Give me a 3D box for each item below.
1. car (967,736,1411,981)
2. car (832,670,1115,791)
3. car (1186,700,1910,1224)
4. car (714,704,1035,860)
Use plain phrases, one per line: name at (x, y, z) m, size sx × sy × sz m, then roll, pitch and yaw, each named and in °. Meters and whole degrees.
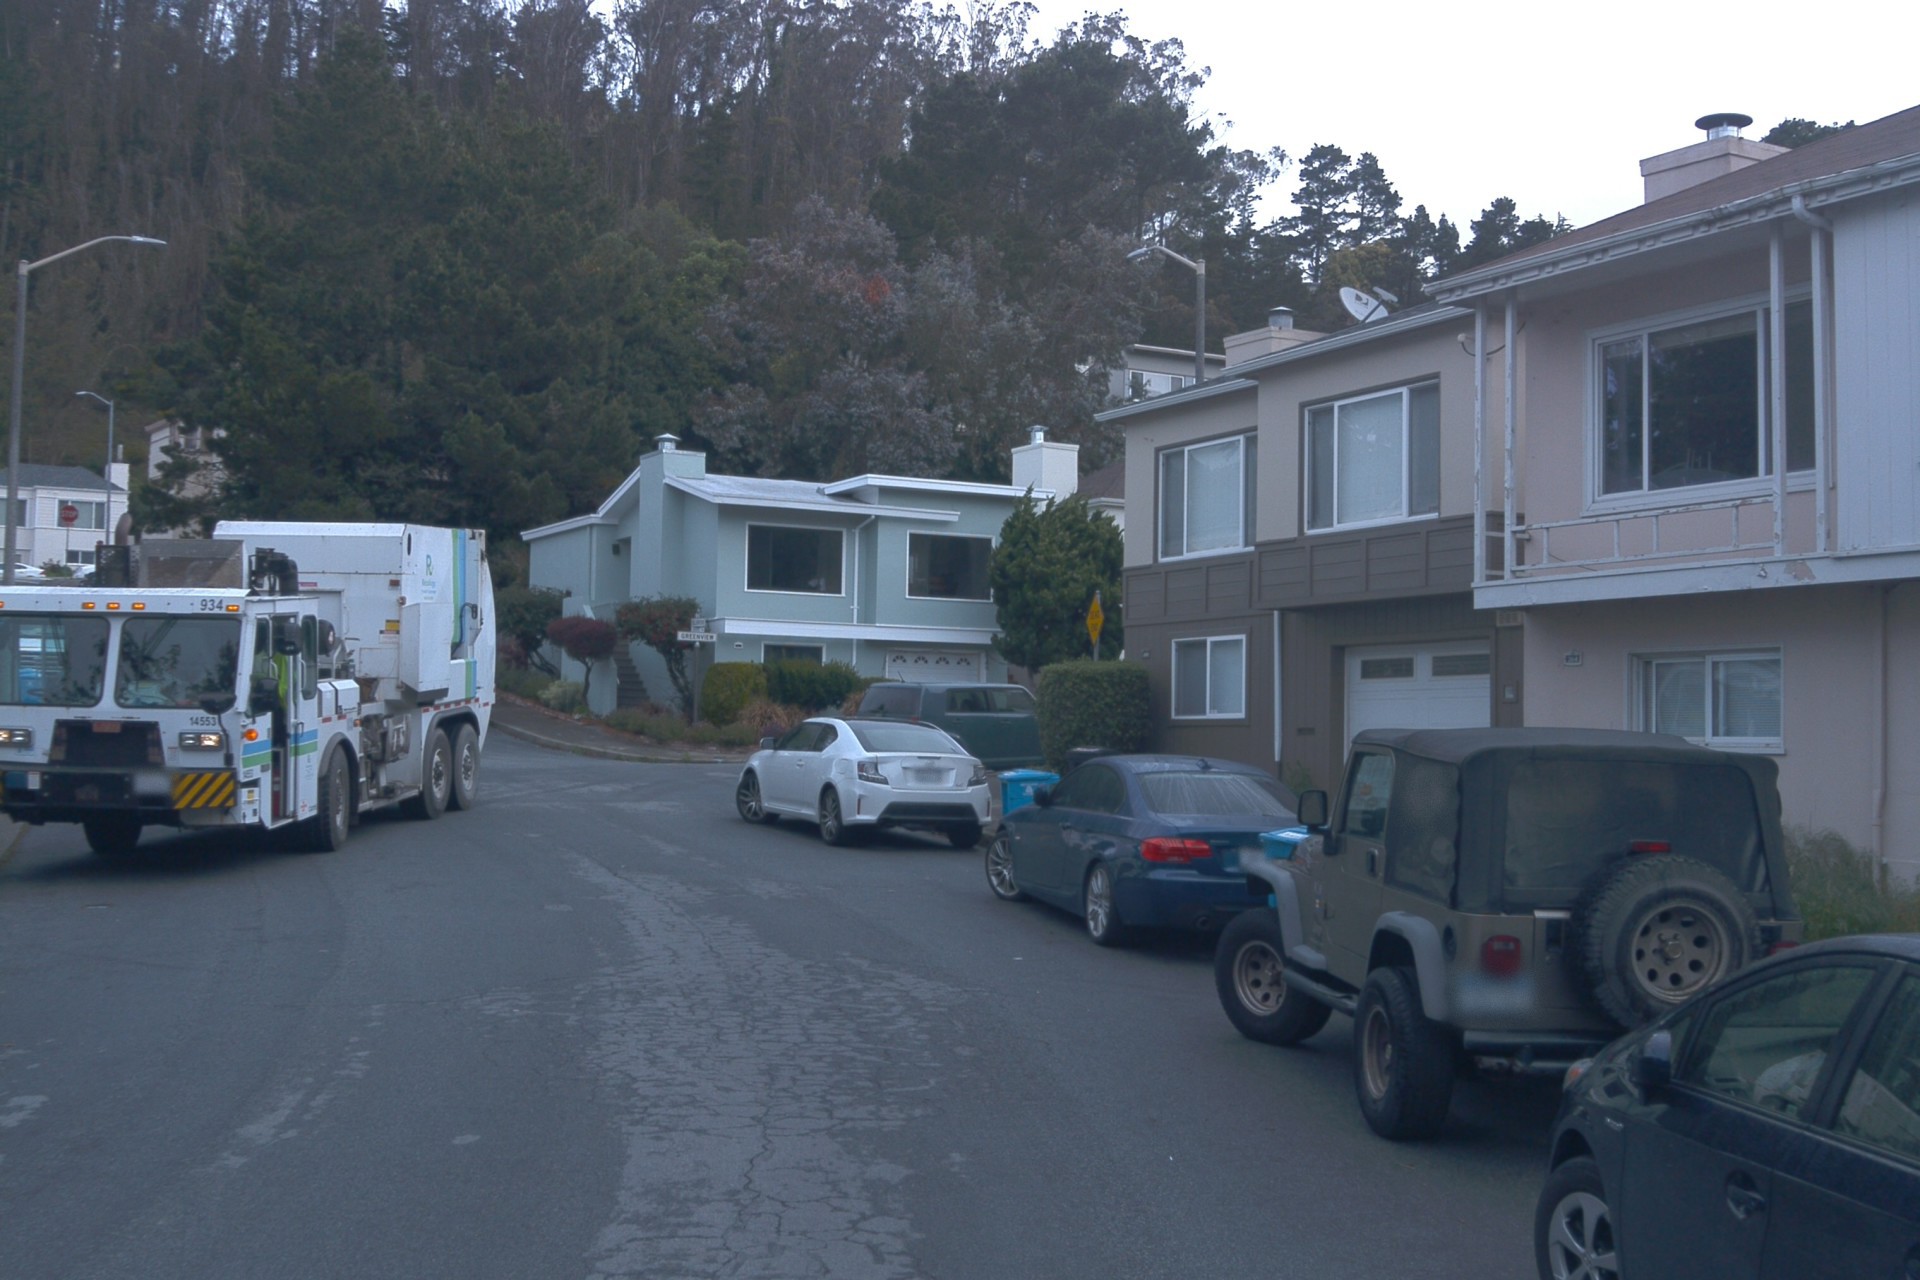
car at (1.602, 1.588, 16.479) m, size 2.036 × 1.450 × 4.650 m, roll 0°, pitch 0°, yaw -14°
car at (0.255, 1.393, 33.245) m, size 4.270 × 1.770 × 2.030 m, roll 0°, pitch 0°, yaw -41°
car at (2.589, 1.334, 10.292) m, size 2.126 × 1.973 × 4.021 m, roll 0°, pitch 0°, yaw -6°
car at (-1.137, 1.593, 24.605) m, size 2.201 × 1.540 × 4.545 m, roll 0°, pitch 0°, yaw -25°
